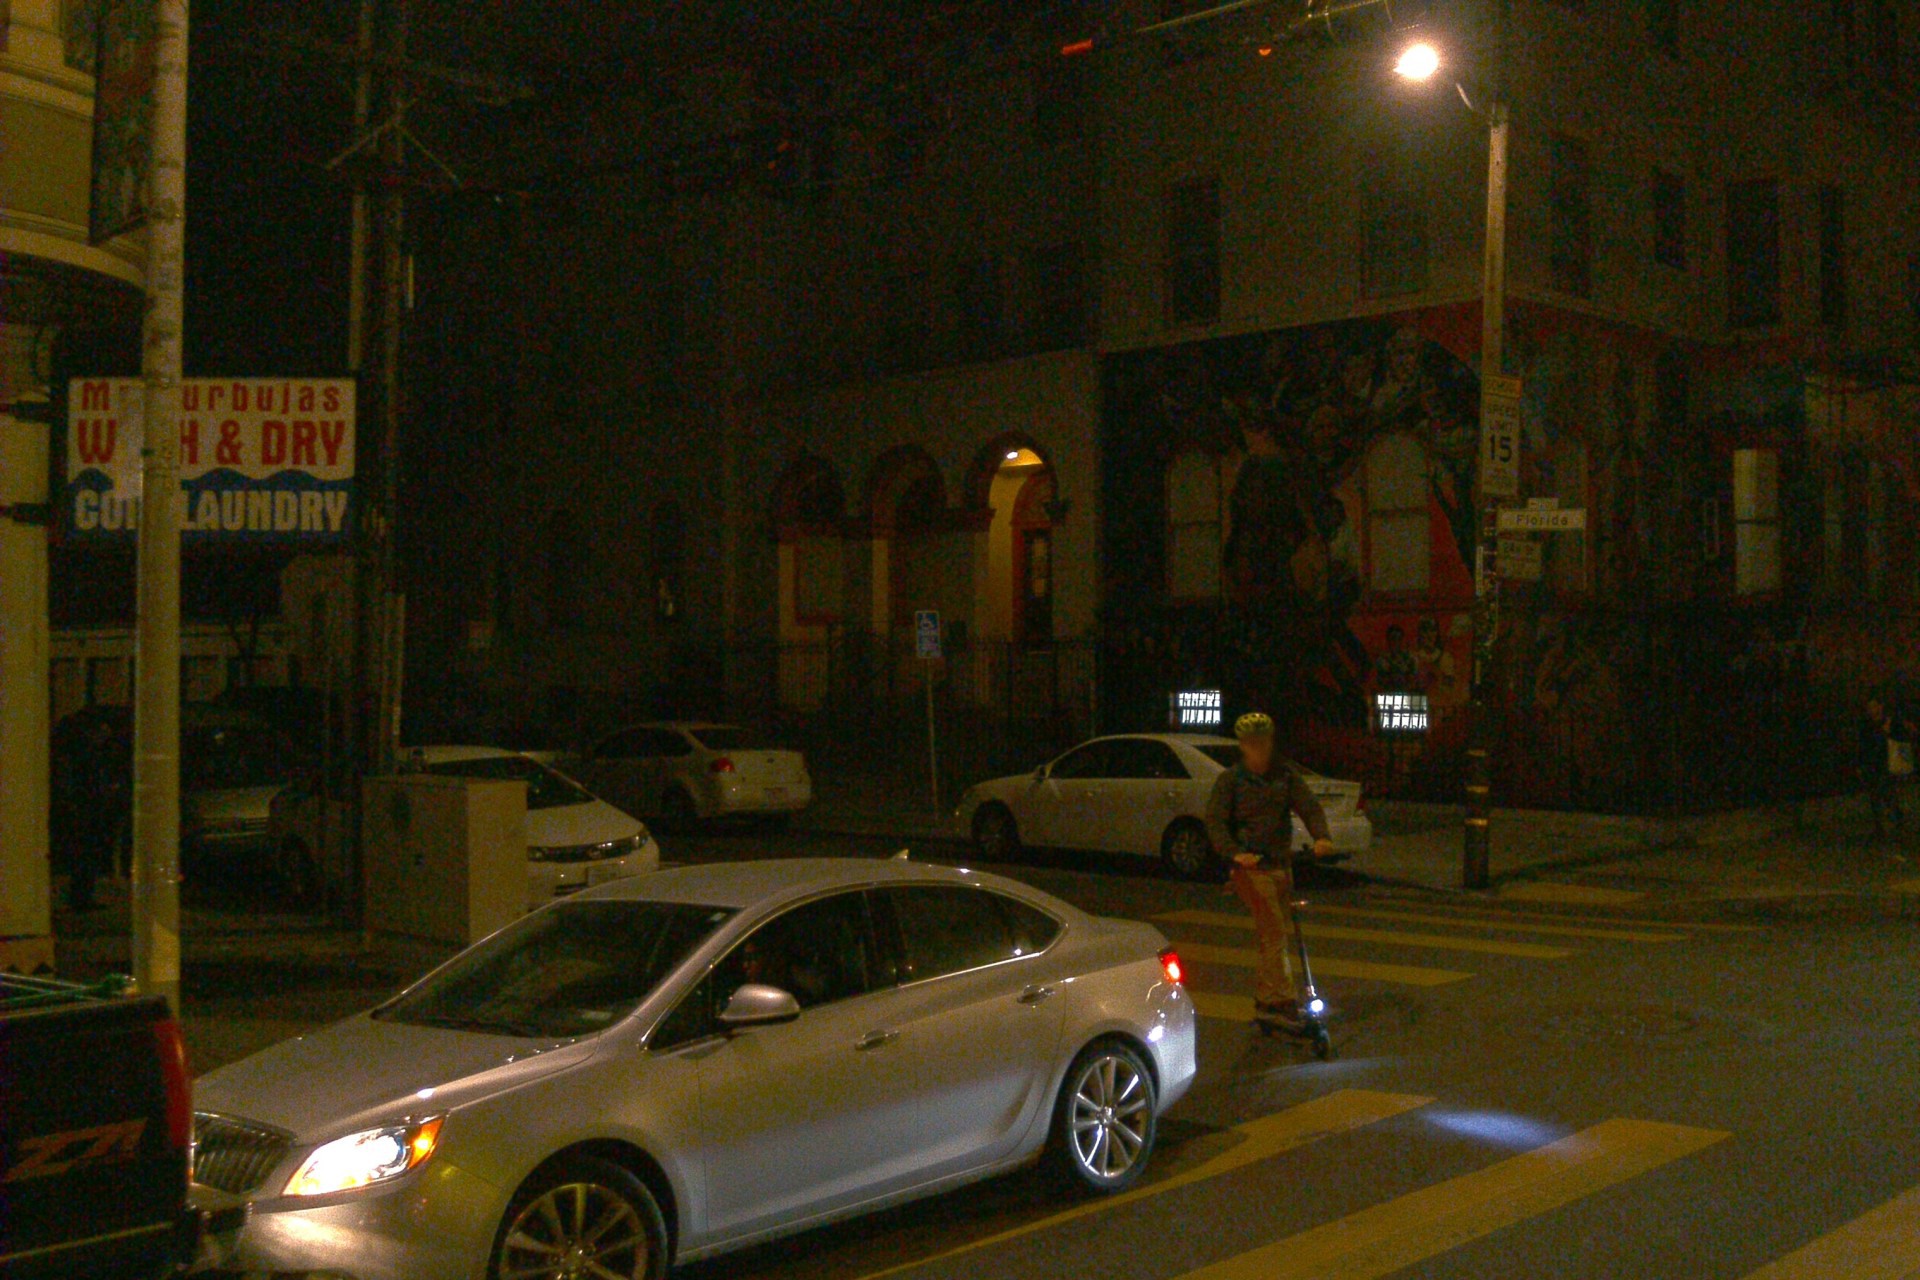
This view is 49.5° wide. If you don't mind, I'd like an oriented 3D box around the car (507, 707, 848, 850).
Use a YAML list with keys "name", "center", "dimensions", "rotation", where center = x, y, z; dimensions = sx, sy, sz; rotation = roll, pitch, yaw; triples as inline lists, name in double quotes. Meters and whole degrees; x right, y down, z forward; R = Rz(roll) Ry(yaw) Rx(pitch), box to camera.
- name: "car"
  center: [-3.850, 1.773, 27.888]
  dimensions: [4.484, 1.590, 2.154]
  rotation: [1, 0, 43]

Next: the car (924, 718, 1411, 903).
- name: "car"
  center: [2.105, 1.704, 22.136]
  dimensions: [2.249, 1.540, 4.811]
  rotation: [1, 0, -45]

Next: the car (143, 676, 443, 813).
- name: "car"
  center: [-11.470, 1.695, 35.528]
  dimensions: [5.593, 2.030, 2.552]
  rotation: [1, 0, 45]

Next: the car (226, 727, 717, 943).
- name: "car"
  center: [-4.516, 1.634, 18.780]
  dimensions: [4.684, 1.490, 2.131]
  rotation: [1, 0, 45]

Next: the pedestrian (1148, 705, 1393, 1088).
- name: "pedestrian"
  center: [1.699, 1.369, 11.603]
  dimensions: [0.997, 1.961, 1.315]
  rotation: [1, 0, -9]

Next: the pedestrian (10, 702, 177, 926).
- name: "pedestrian"
  center: [-7.180, 1.413, 17.259]
  dimensions: [0.912, 1.760, 0.866]
  rotation: [1, 0, 21]

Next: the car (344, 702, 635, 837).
- name: "car"
  center: [-7.110, 1.866, 31.199]
  dimensions: [4.412, 1.720, 2.202]
  rotation: [1, 0, 45]

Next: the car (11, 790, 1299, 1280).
- name: "car"
  center: [-0.863, 1.586, 8.293]
  dimensions: [2.006, 1.640, 4.900]
  rotation: [1, 0, 42]
